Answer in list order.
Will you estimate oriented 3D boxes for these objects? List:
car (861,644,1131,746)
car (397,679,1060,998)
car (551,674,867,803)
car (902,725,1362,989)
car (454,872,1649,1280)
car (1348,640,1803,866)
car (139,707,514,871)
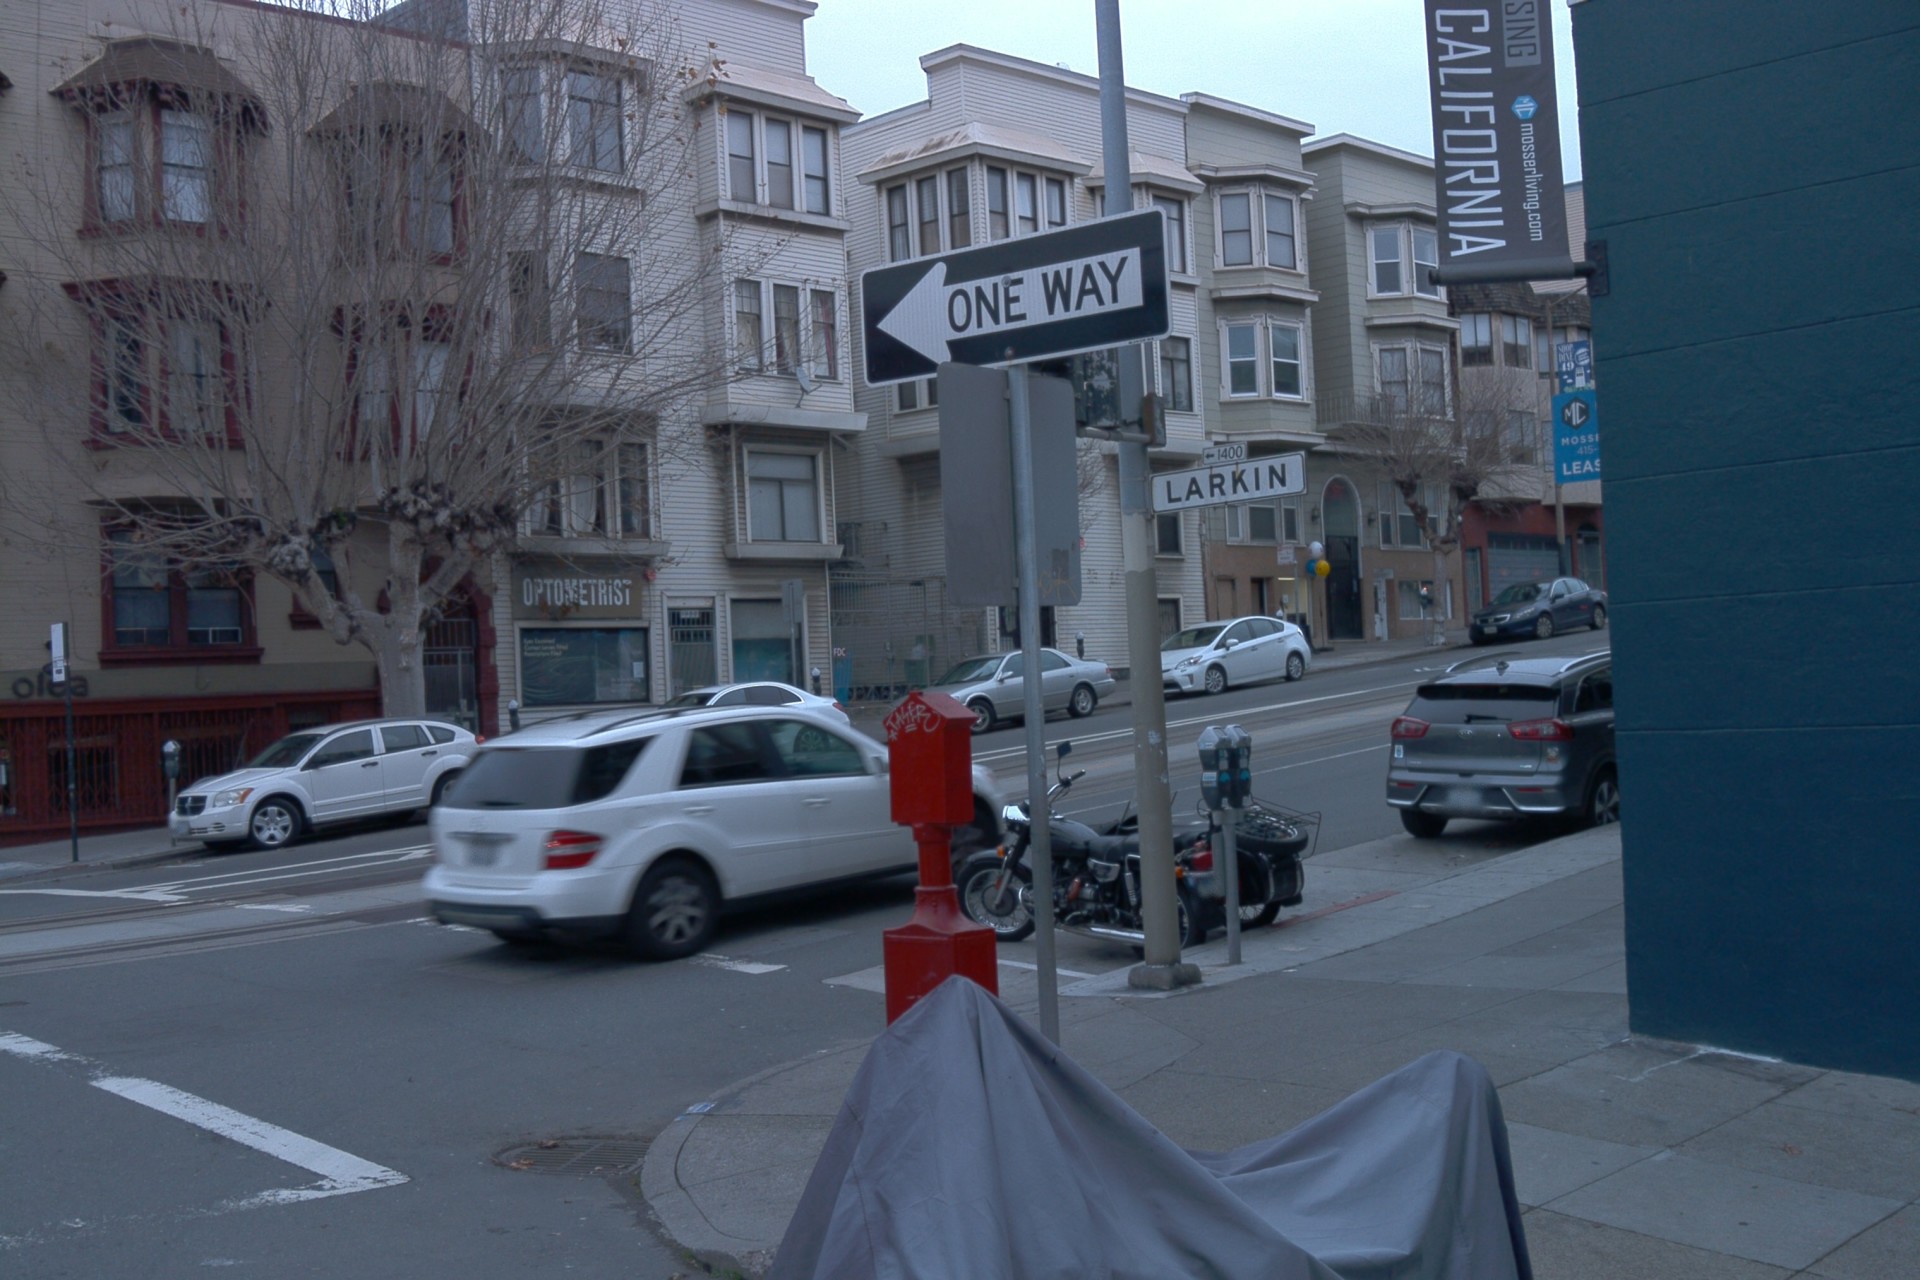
[{"bbox_3d":[0.712,0.925,37.120,4.801,1.657,2.084,-1,1,-45],"label":"car"},{"bbox_3d":[-1.621,1.336,15.927,2.171,1.930,4.820,1,1,43],"label":"car"},{"bbox_3d":[-3.872,1.471,32.361,4.589,1.757,2.074,-1,1,-44],"label":"car"},{"bbox_3d":[1.133,1.380,14.055,2.745,1.460,1.540,0,1,42],"label":"car"},{"bbox_3d":[0.332,1.393,4.286,2.490,1.520,1.048,-1,1,-44],"label":"car"},{"bbox_3d":[5.645,0.886,18.583,2.132,1.717,4.606,0,1,42],"label":"car"},{"bbox_3d":[-8.482,1.922,27.919,2.053,1.847,4.407,1,1,44],"label":"car"}]
